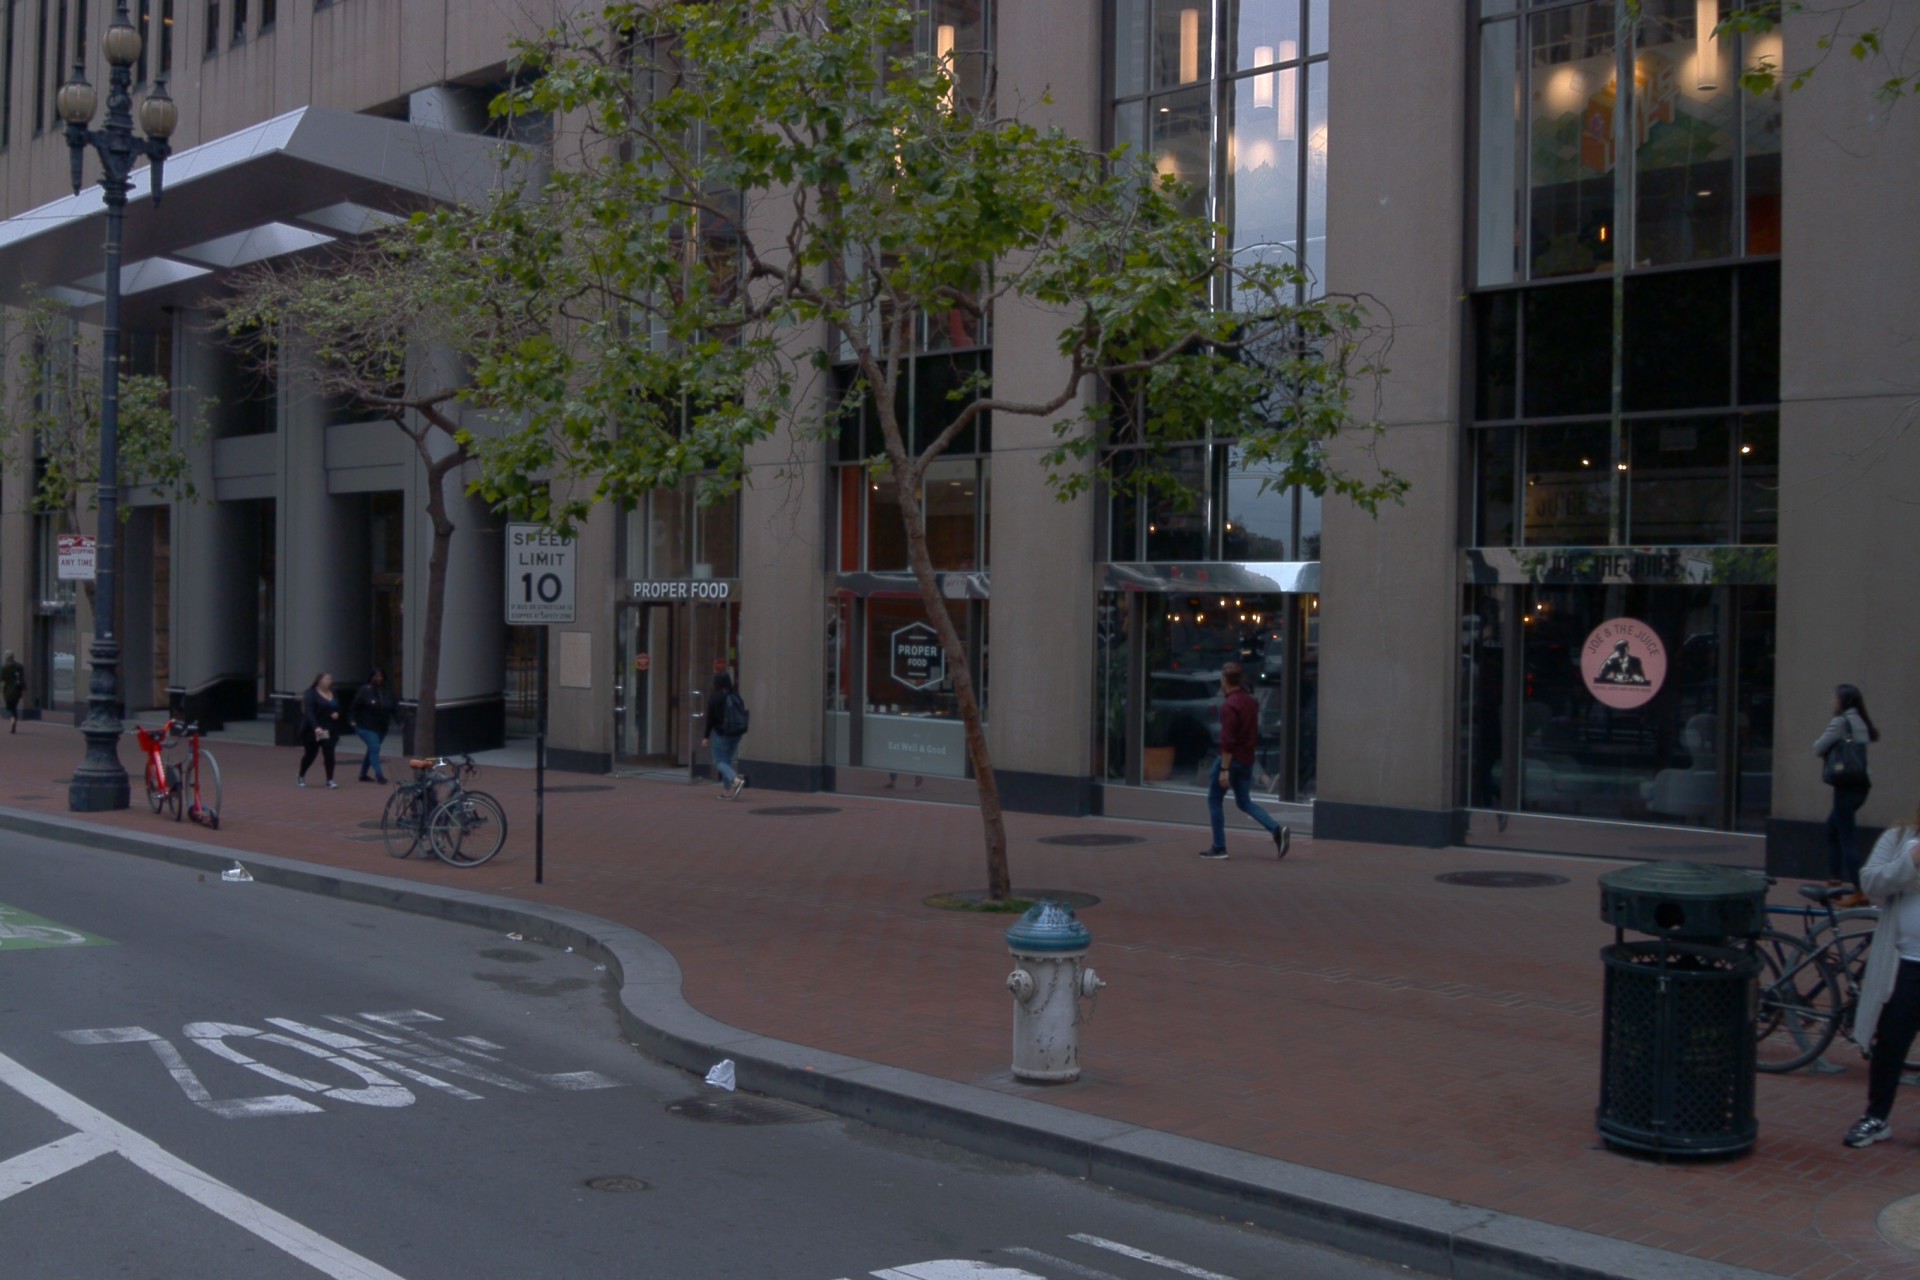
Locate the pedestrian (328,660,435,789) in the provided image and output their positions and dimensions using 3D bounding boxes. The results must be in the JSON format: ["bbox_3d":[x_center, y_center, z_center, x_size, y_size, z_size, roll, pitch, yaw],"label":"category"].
[{"bbox_3d":[-7.934,1.136,28.101,0.901,1.700,1.319,0,0,-43],"label":"pedestrian"}]

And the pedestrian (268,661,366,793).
[{"bbox_3d":[-8.621,1.151,27.479,0.894,1.710,1.015,0,0,-44],"label":"pedestrian"}]

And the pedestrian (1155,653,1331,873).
[{"bbox_3d":[2.573,1.078,18.649,1.272,1.910,0.945,0,0,40],"label":"pedestrian"}]

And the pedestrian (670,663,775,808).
[{"bbox_3d":[-2.900,1.146,25.038,0.846,1.710,0.984,0,0,-45],"label":"pedestrian"}]
